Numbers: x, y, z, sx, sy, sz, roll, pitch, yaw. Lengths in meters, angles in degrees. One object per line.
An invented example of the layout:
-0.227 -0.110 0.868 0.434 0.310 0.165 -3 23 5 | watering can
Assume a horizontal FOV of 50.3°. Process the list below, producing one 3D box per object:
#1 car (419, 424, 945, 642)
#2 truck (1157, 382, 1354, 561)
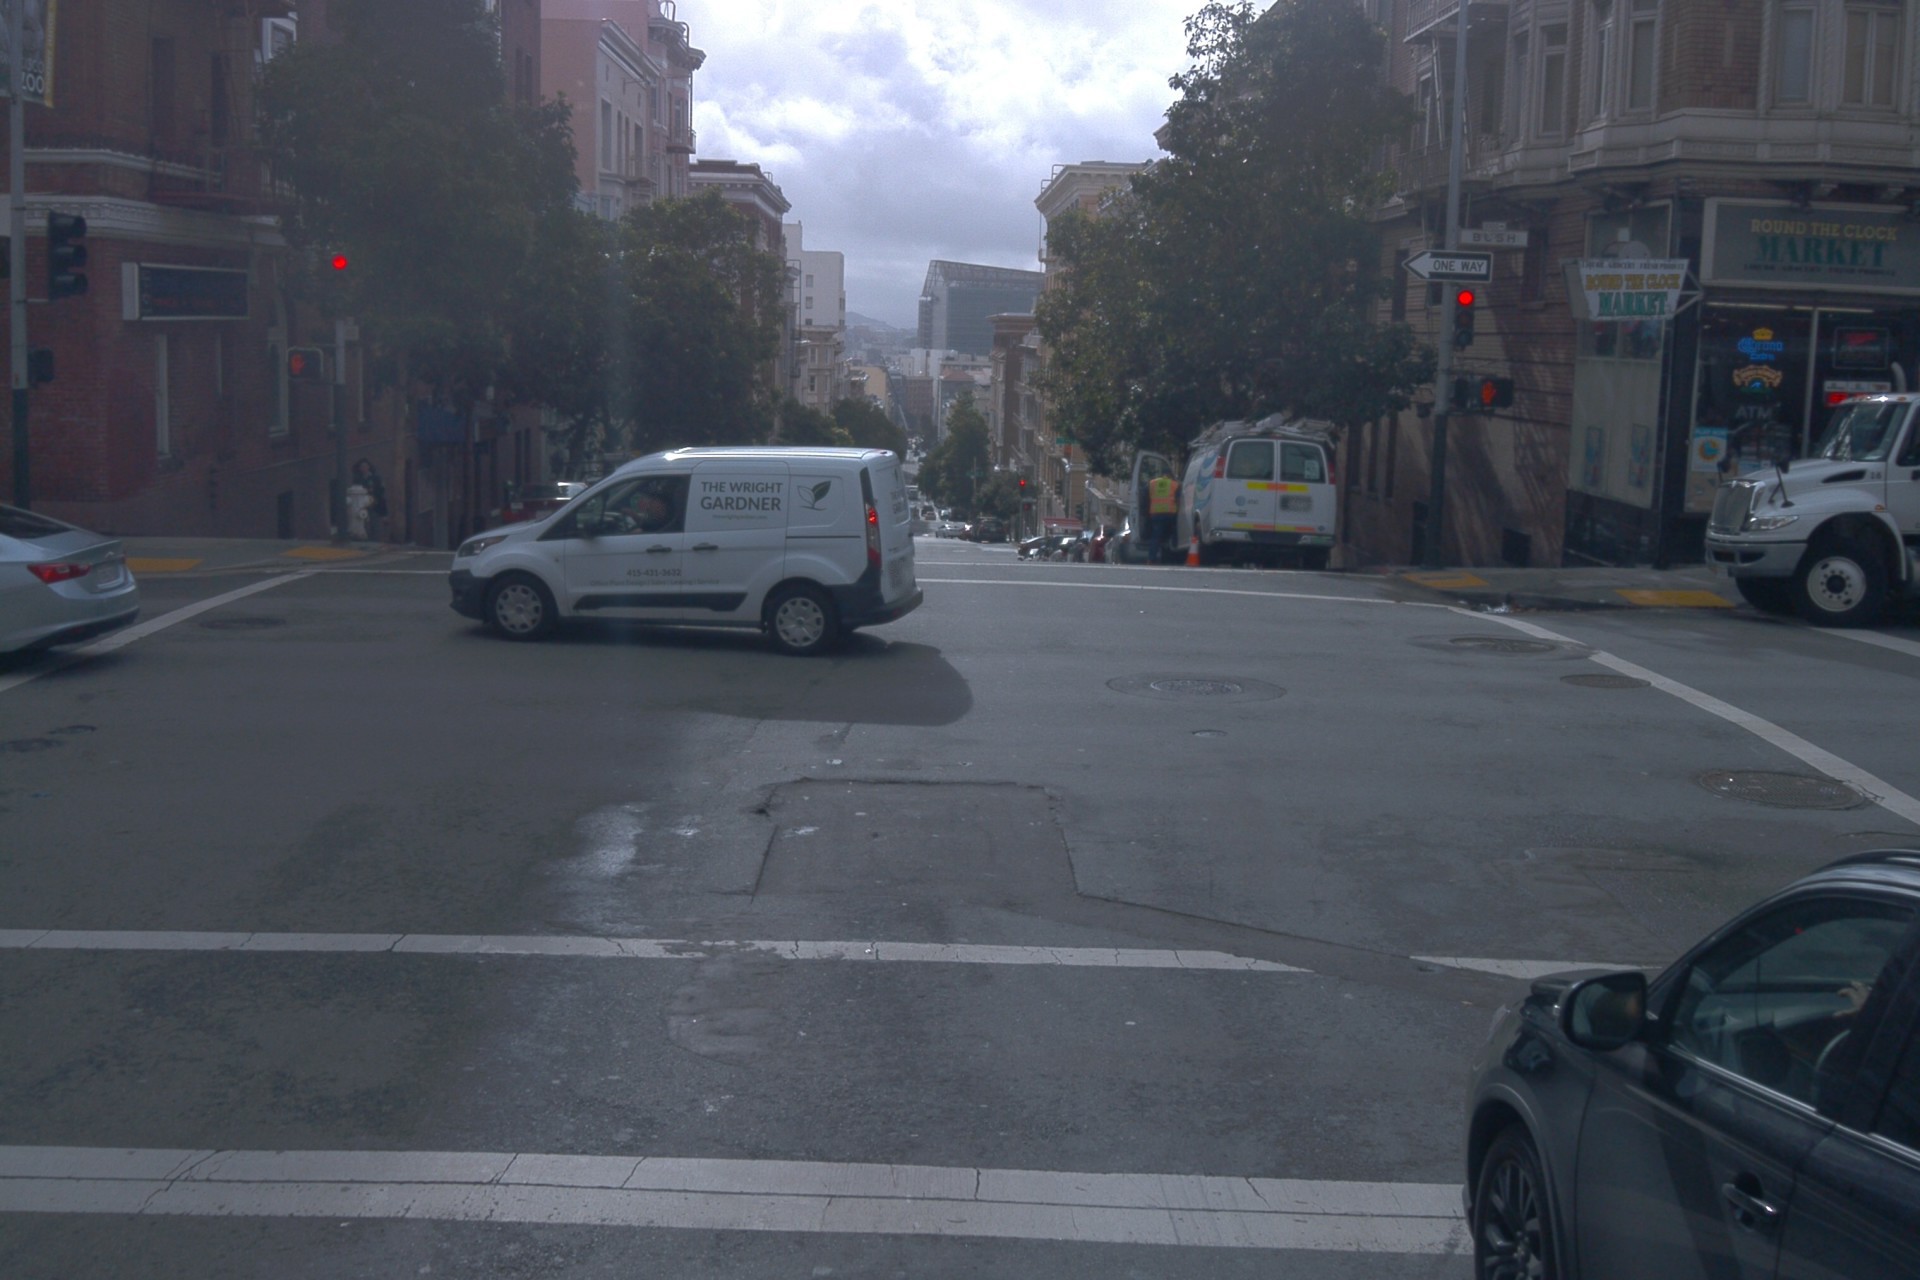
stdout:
-2.518 -0.980 19.108 4.472 1.870 1.942 1 1 9 | car
4.562 -2.556 32.424 2.117 2.450 5.100 1 1 -3 | truck
